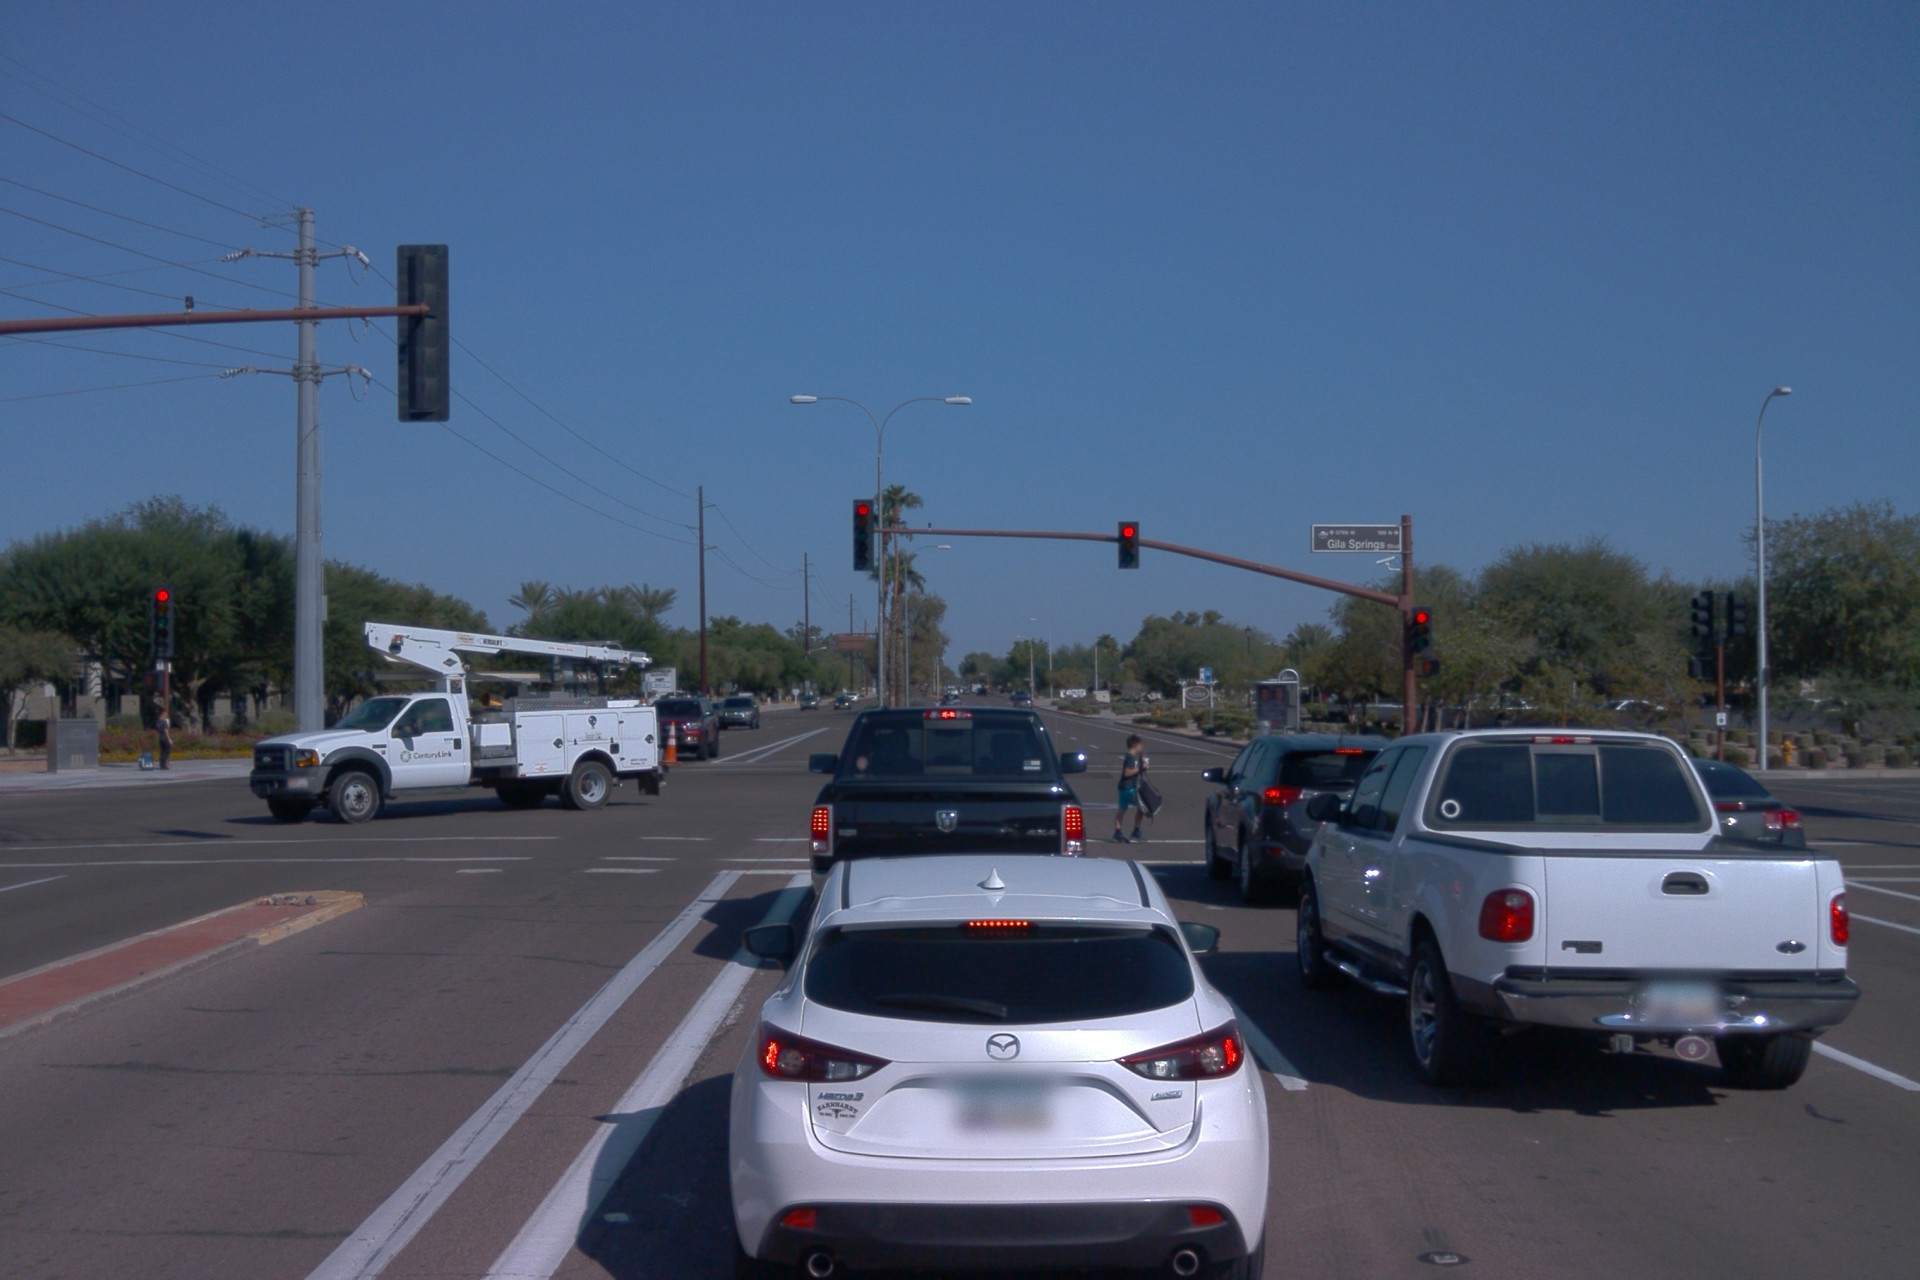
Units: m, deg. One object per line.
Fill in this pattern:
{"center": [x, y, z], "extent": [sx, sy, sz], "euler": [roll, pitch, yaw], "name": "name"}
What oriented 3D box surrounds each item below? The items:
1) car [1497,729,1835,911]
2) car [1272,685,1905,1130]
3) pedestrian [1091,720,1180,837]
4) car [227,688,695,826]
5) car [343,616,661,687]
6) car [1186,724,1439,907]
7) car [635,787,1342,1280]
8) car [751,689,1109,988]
{"center": [6.817, 1.687, 20.627], "extent": [1.828, 1.540, 4.447], "euler": [0, -1, 0], "name": "car"}
{"center": [3.345, 1.322, 12.472], "extent": [2.073, 2.070, 5.518], "euler": [0, -1, -1], "name": "car"}
{"center": [2.336, 1.834, 27.730], "extent": [1.087, 1.530, 0.743], "euler": [0, -1, -3], "name": "pedestrian"}
{"center": [-8.004, 1.815, 34.028], "extent": [6.950, 2.040, 2.812], "euler": [1, -2, -43], "name": "car"}
{"center": [-7.658, 0.230, 35.052], "extent": [4.976, 1.100, 1.626], "euler": [1, -2, -33], "name": "car"}
{"center": [3.477, 1.699, 21.297], "extent": [1.789, 1.630, 4.213], "euler": [0, -1, -1], "name": "car"}
{"center": [0.087, 1.504, 8.512], "extent": [2.099, 1.600, 4.628], "euler": [0, -1, 0], "name": "car"}
{"center": [-0.135, 1.449, 17.029], "extent": [2.500, 2.080, 5.001], "euler": [0, -1, 2], "name": "car"}
